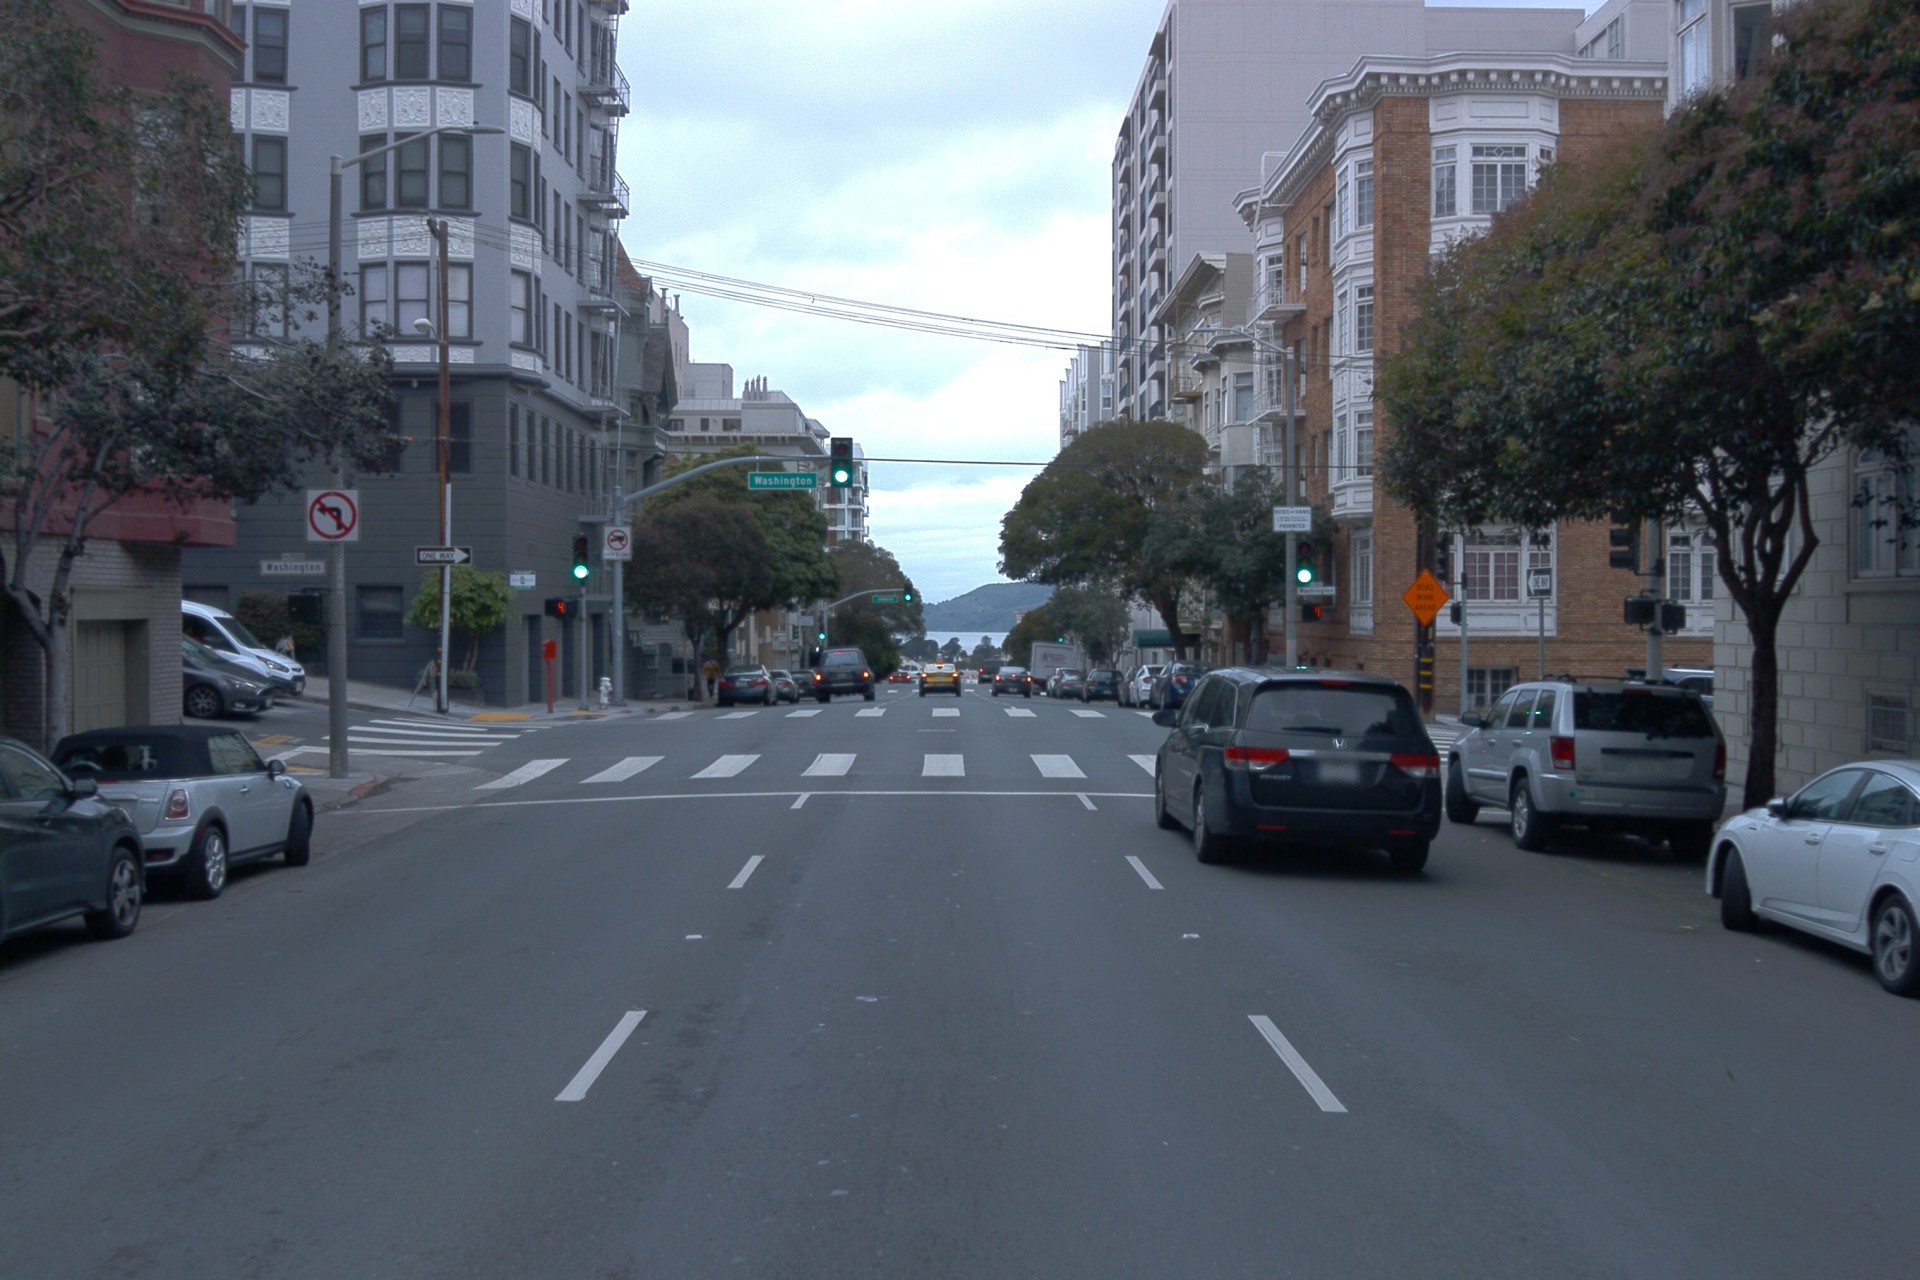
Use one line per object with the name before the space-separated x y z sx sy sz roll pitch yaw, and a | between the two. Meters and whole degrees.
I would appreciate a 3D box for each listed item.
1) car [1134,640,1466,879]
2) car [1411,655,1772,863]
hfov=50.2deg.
car | 2.969 0.970 19.113 2.200 1.890 4.938 0 1 -1
car | 6.517 1.142 21.880 2.317 1.880 4.984 0 1 0
